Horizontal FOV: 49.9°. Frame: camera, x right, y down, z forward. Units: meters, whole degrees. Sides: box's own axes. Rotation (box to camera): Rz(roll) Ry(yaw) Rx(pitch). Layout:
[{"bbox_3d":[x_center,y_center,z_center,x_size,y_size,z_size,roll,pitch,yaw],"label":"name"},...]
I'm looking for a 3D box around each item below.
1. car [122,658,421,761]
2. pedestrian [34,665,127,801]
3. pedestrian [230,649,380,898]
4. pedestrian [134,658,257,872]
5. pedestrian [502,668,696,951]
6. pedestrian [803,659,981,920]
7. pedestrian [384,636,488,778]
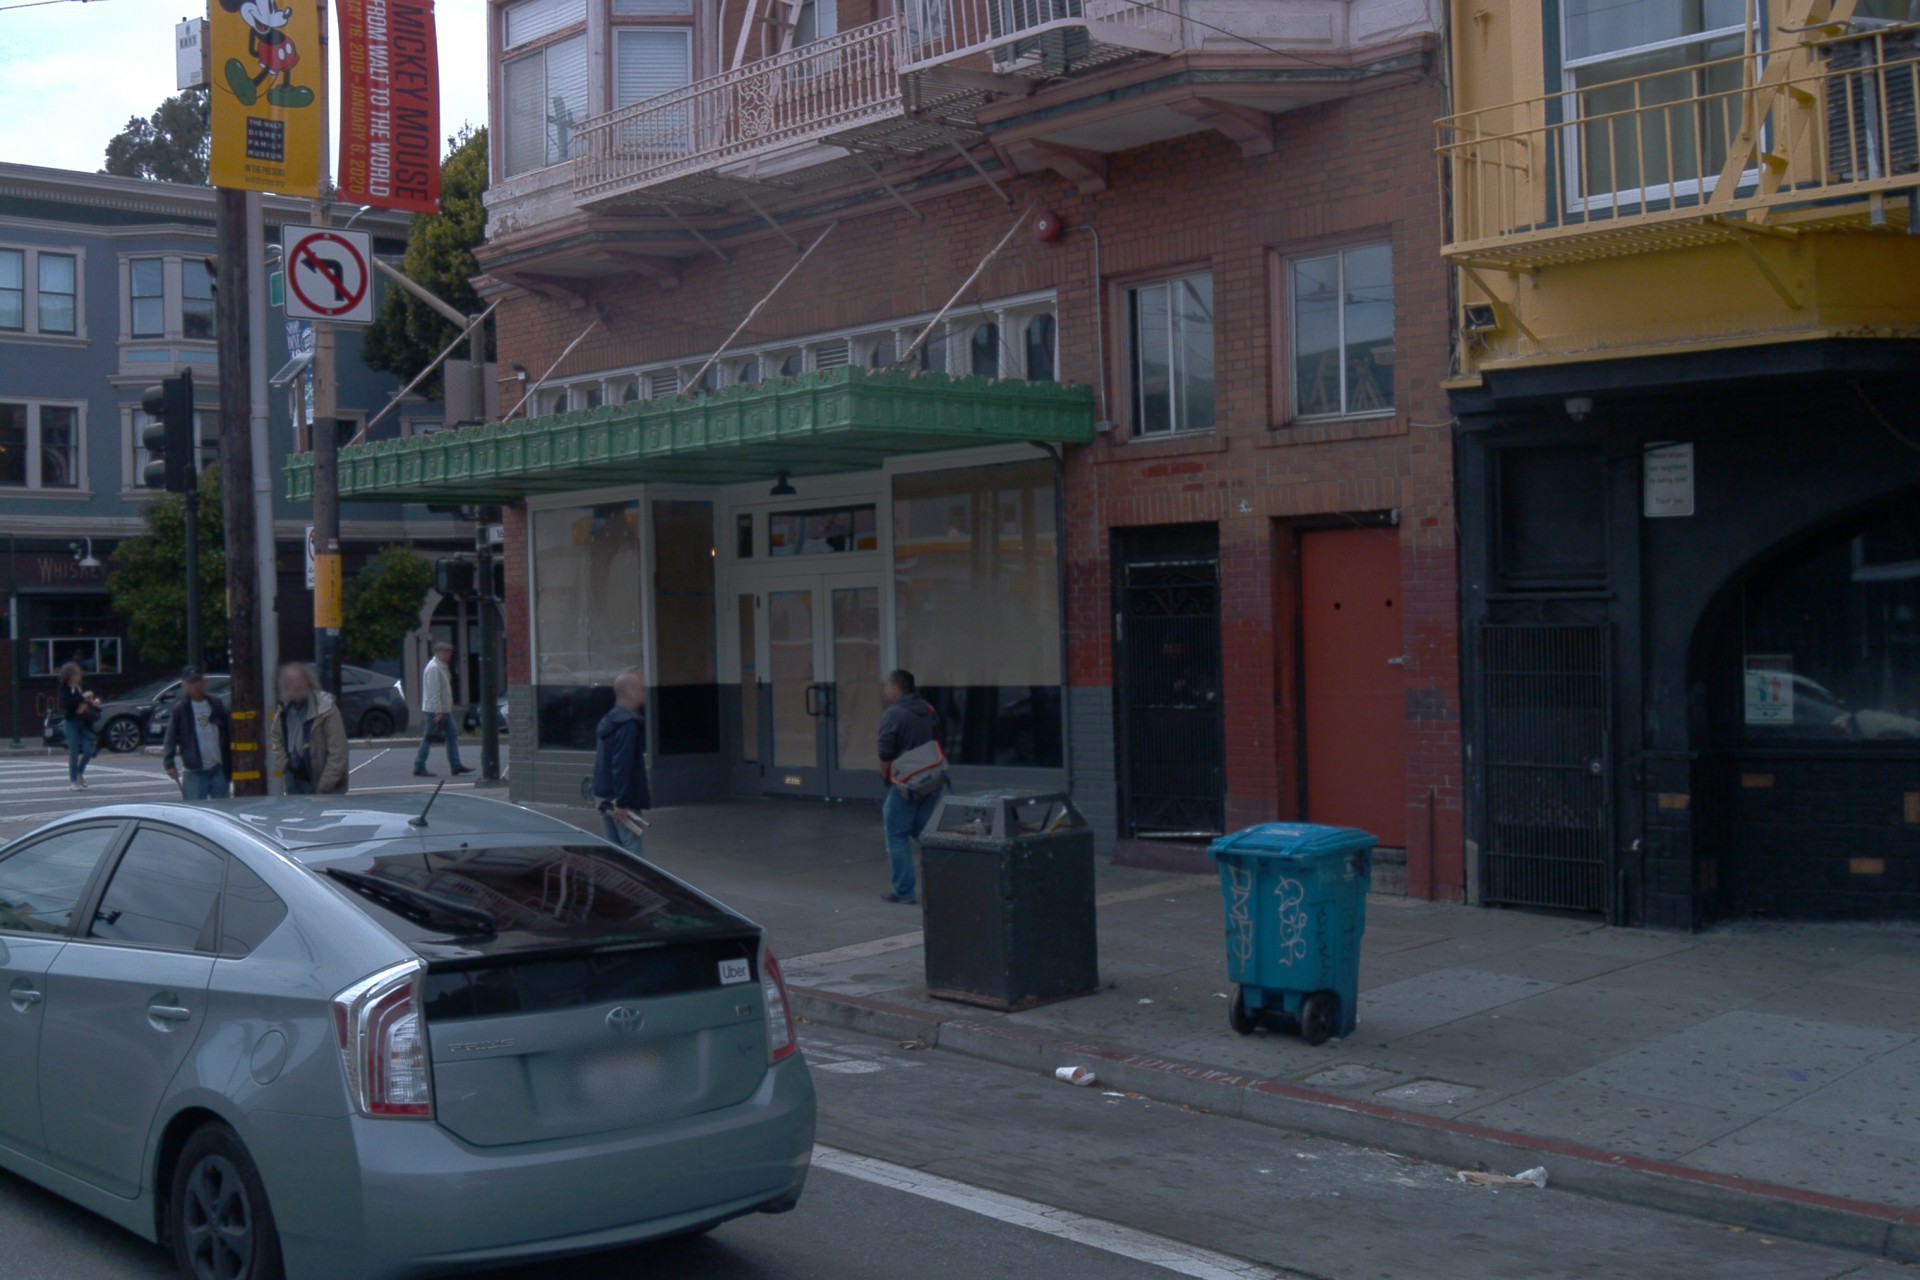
[{"bbox_3d":[-11.913,1.146,35.920,4.479,1.590,2.051,-1,1,-45],"label":"car"},{"bbox_3d":[-10.889,1.133,25.568,0.847,1.620,0.766,1,1,41],"label":"pedestrian"},{"bbox_3d":[-4.977,0.985,15.708,0.871,1.820,0.661,0,1,27],"label":"pedestrian"},{"bbox_3d":[-6.472,1.035,17.482,0.765,1.740,0.663,-1,1,-44],"label":"pedestrian"},{"bbox_3d":[-2.415,1.095,13.829,1.043,1.790,0.760,0,1,33],"label":"pedestrian"},{"bbox_3d":[-0.474,1.004,14.425,0.971,1.720,0.780,1,1,43],"label":"pedestrian"},{"bbox_3d":[-7.062,0.891,27.903,1.089,1.870,1.021,0,1,5],"label":"pedestrian"}]
